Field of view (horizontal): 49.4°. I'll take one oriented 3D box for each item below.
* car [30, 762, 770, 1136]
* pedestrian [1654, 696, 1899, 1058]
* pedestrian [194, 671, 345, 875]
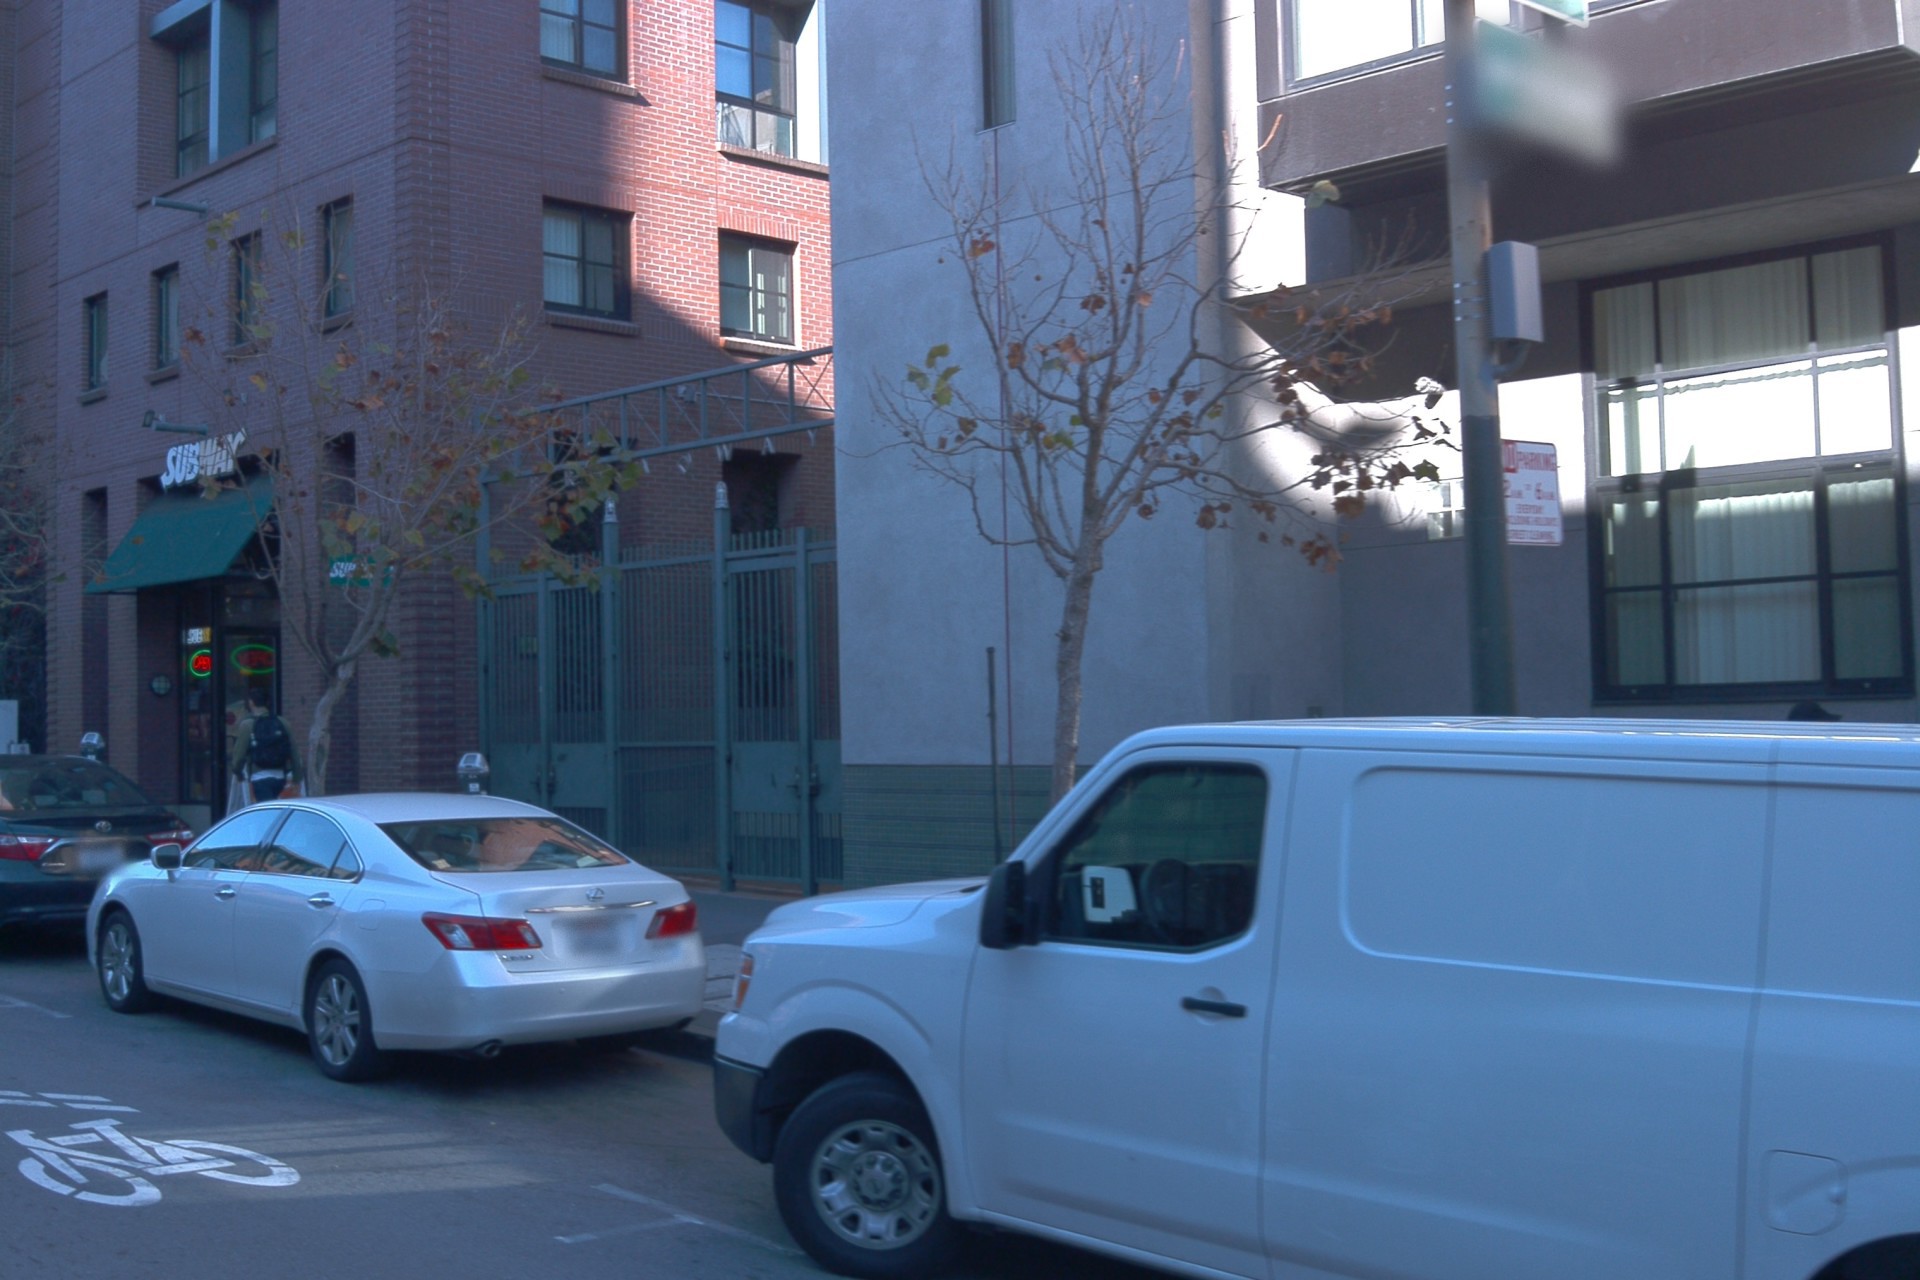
[{"bbox_3d":[-3.480,1.602,12.311,2.124,1.510,4.812,1,0,-44],"label":"car"},{"bbox_3d":[4.555,1.255,11.616,1.022,1.860,1.055,0,0,36],"label":"pedestrian"},{"bbox_3d":[-6.835,1.280,20.645,0.992,1.930,1.153,0,0,-45],"label":"pedestrian"}]
